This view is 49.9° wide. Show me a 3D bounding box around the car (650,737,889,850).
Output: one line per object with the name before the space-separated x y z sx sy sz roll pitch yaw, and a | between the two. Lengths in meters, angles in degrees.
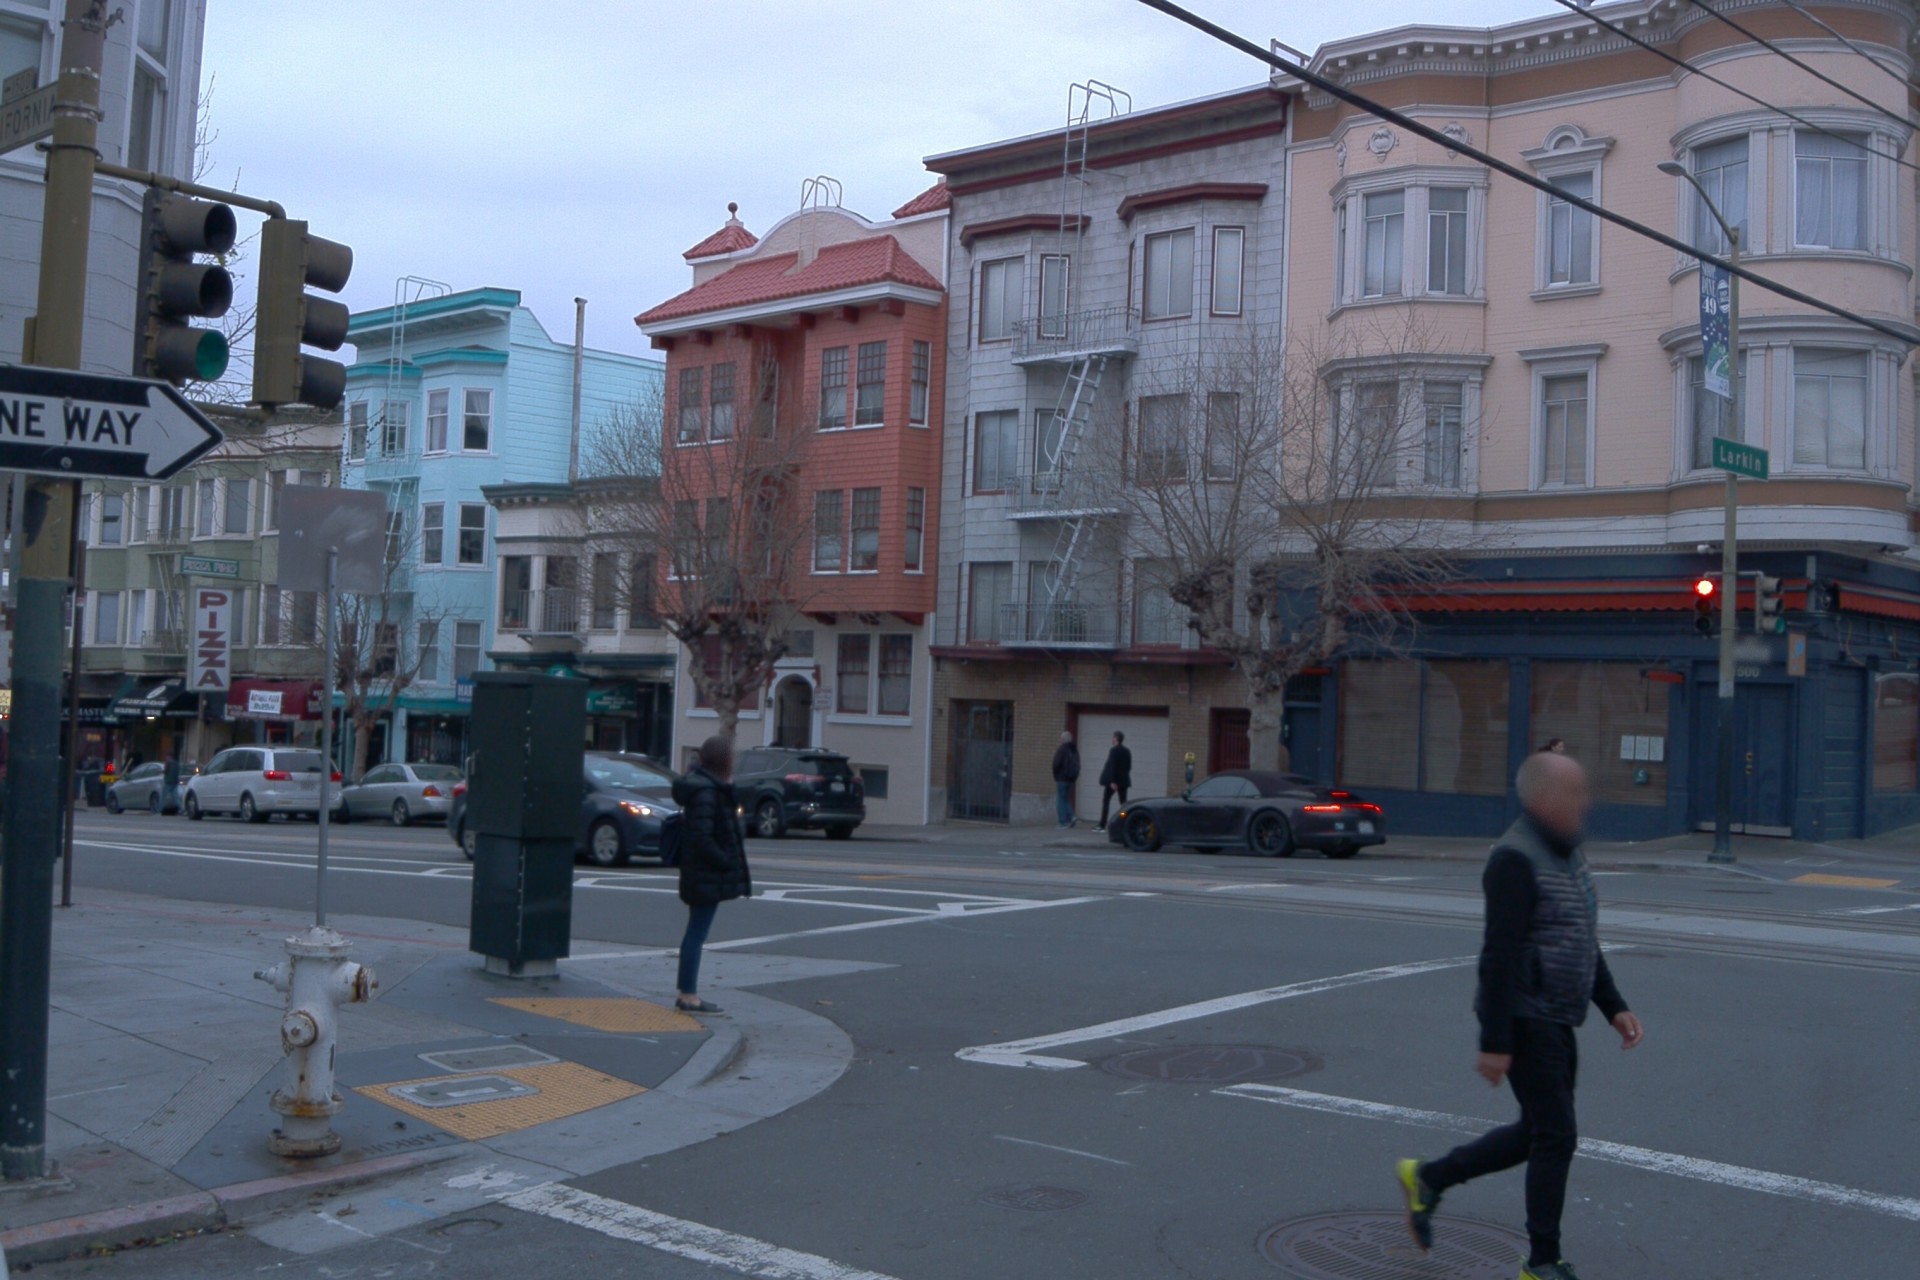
car | -3.623 2.825 38.770 4.423 1.700 2.100 1 1 44

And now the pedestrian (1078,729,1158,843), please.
pedestrian | 2.811 2.582 36.734 1.080 1.913 0.903 1 1 43

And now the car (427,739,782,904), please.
car | -4.559 2.198 26.071 4.575 1.600 2.081 1 1 43

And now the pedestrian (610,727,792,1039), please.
pedestrian | -1.527 1.391 12.141 0.846 1.692 0.707 -1 1 -31

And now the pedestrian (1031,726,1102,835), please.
pedestrian | 1.991 2.620 38.679 1.100 1.930 0.772 1 1 43

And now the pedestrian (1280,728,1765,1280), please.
pedestrian | 1.788 1.180 6.575 1.244 1.716 0.882 1 1 37

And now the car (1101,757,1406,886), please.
car | 4.281 2.622 30.588 1.947 1.460 4.186 -1 1 -43

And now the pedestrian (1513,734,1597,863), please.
pedestrian | 8.834 2.330 30.636 0.938 1.800 0.779 1 1 42
